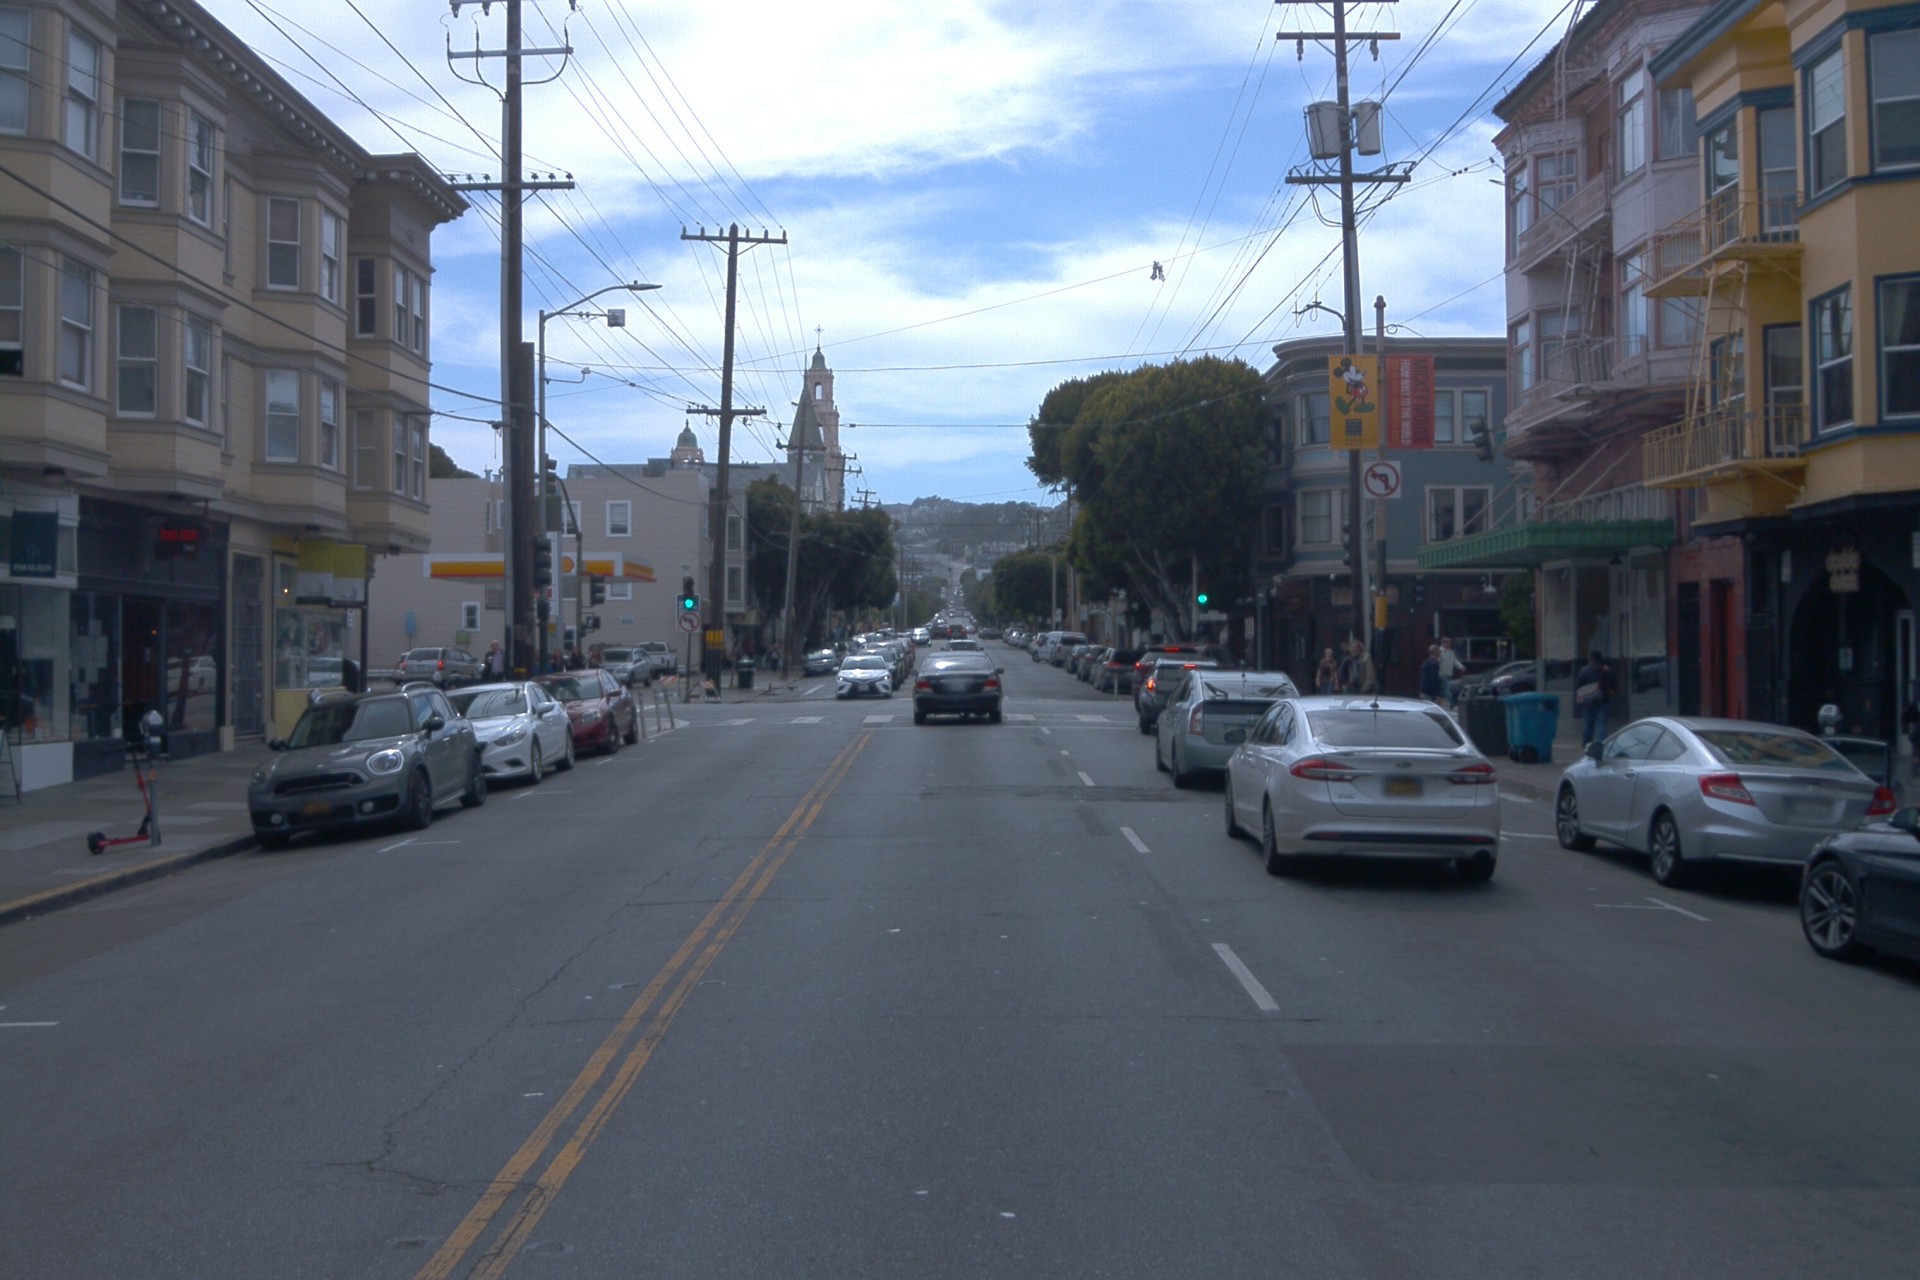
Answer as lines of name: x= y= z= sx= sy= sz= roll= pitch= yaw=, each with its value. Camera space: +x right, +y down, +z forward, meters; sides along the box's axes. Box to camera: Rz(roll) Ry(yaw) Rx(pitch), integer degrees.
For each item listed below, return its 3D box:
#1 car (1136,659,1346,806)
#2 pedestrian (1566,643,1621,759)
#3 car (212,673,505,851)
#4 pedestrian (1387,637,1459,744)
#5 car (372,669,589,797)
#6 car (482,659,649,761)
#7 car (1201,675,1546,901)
car: x=3.558 y=1.128 z=26.866 sx=2.106 sy=1.640 sz=4.496 roll=0 pitch=1 yaw=0
pedestrian: x=9.674 y=0.916 z=31.408 sx=0.787 sy=1.720 sz=0.962 roll=0 pitch=1 yaw=17
car: x=-6.692 y=1.299 z=23.388 sx=2.038 sy=1.690 sz=4.341 roll=0 pitch=1 yaw=0
pedestrian: x=7.976 y=0.852 z=35.435 sx=1.041 sy=1.790 sz=0.761 roll=0 pitch=1 yaw=30
car: x=-6.762 y=1.262 z=29.560 sx=2.139 sy=1.520 sz=4.891 roll=0 pitch=1 yaw=-2
car: x=-6.735 y=1.148 z=35.609 sx=2.096 sy=1.500 sz=4.876 roll=0 pitch=1 yaw=-2
car: x=3.465 y=1.183 z=18.244 sx=2.170 sy=1.570 sz=4.849 roll=0 pitch=1 yaw=1
